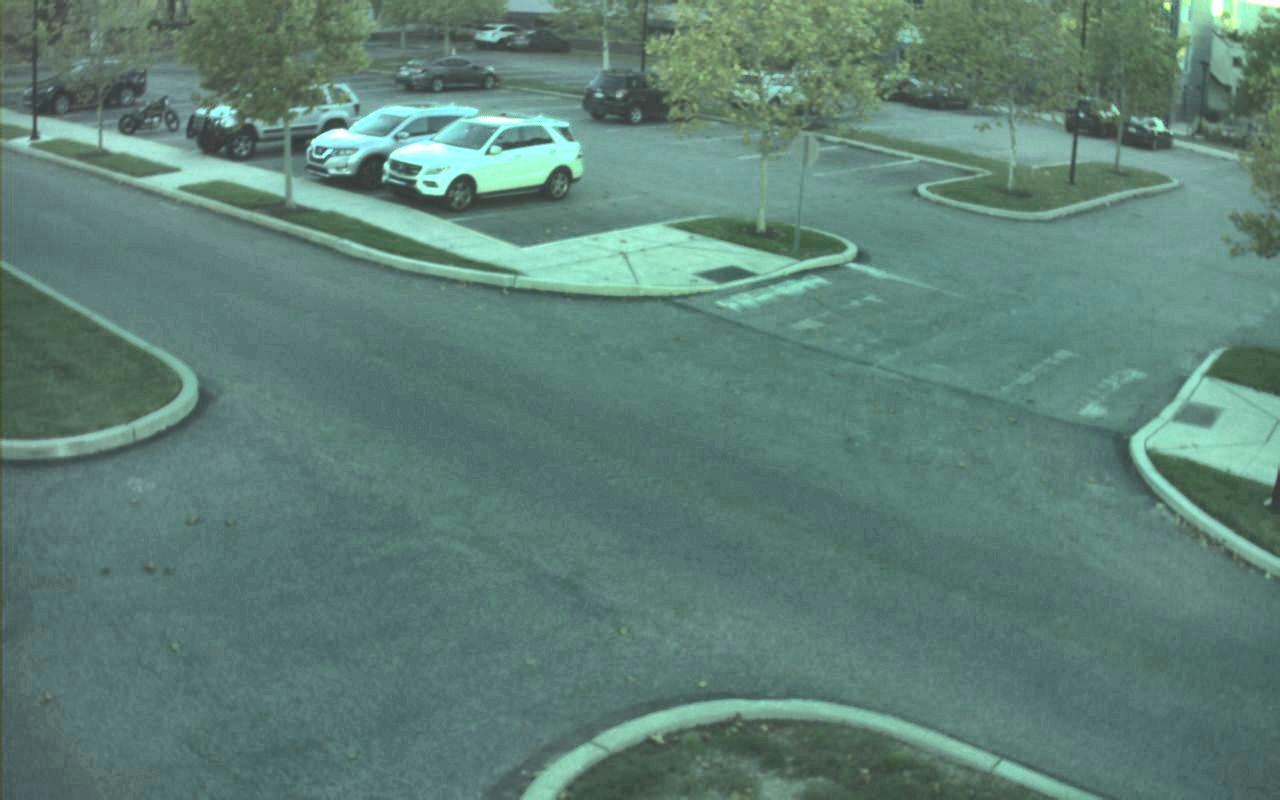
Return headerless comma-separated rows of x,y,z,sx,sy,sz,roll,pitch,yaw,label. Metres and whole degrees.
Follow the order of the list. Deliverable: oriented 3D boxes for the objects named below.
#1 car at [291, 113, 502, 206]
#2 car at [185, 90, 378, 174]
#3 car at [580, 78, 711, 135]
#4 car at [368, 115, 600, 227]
-5.444,-5.473,27.648,1.946,1.592,4.547,12,21,40,car
-9.190,-6.883,30.762,2.007,1.683,4.722,13,21,42,car
0.243,-9.854,41.592,1.992,1.677,4.642,11,20,36,car
-3.218,-4.936,26.270,2.035,1.811,4.820,12,20,38,car
